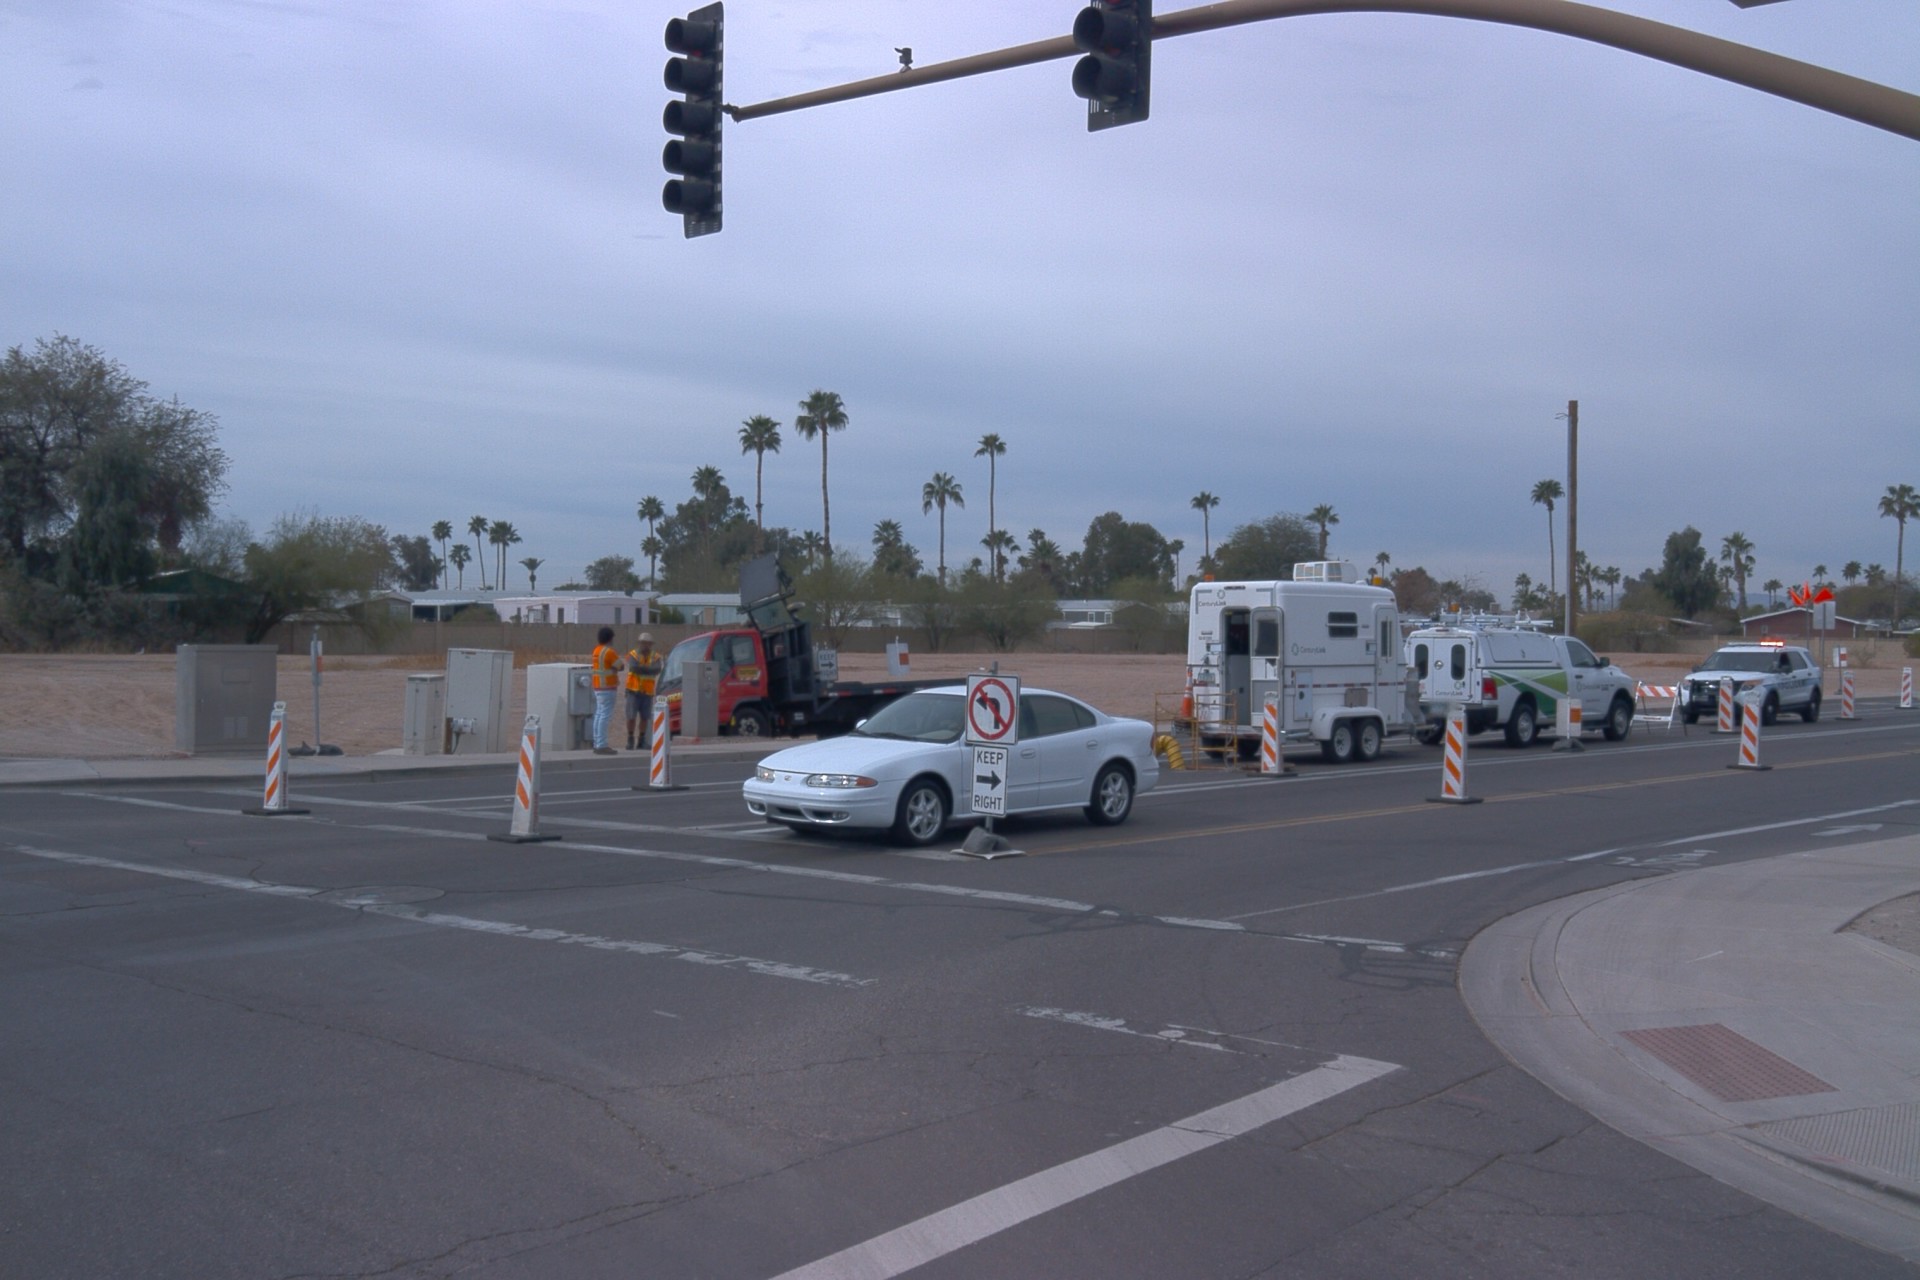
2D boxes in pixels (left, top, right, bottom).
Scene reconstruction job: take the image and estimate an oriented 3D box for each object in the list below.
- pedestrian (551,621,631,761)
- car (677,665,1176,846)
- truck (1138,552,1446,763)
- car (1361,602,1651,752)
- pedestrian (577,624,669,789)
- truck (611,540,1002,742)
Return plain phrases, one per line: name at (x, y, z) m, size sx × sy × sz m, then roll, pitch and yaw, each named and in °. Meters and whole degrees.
pedestrian at (-5.313, 0.728, 29.299) m, size 0.731 × 1.960 × 0.858 m, roll 1°, pitch 0°, yaw -44°
car at (-0.210, 1.044, 19.871) m, size 4.741 × 1.500 × 2.054 m, roll 1°, pitch 0°, yaw -45°
truck at (5.131, 0.262, 31.062) m, size 2.513 × 2.960 × 4.438 m, roll 2°, pitch 0°, yaw 43°
car at (9.752, 0.636, 35.955) m, size 2.452 × 2.410 × 5.773 m, roll 2°, pitch 0°, yaw 43°
pedestrian at (-5.002, 0.973, 30.199) m, size 0.957 × 2.400 × 0.871 m, roll 1°, pitch 0°, yaw -44°
truck at (-2.820, 0.059, 38.250) m, size 6.641 × 3.490 × 3.005 m, roll 1°, pitch 0°, yaw -35°
